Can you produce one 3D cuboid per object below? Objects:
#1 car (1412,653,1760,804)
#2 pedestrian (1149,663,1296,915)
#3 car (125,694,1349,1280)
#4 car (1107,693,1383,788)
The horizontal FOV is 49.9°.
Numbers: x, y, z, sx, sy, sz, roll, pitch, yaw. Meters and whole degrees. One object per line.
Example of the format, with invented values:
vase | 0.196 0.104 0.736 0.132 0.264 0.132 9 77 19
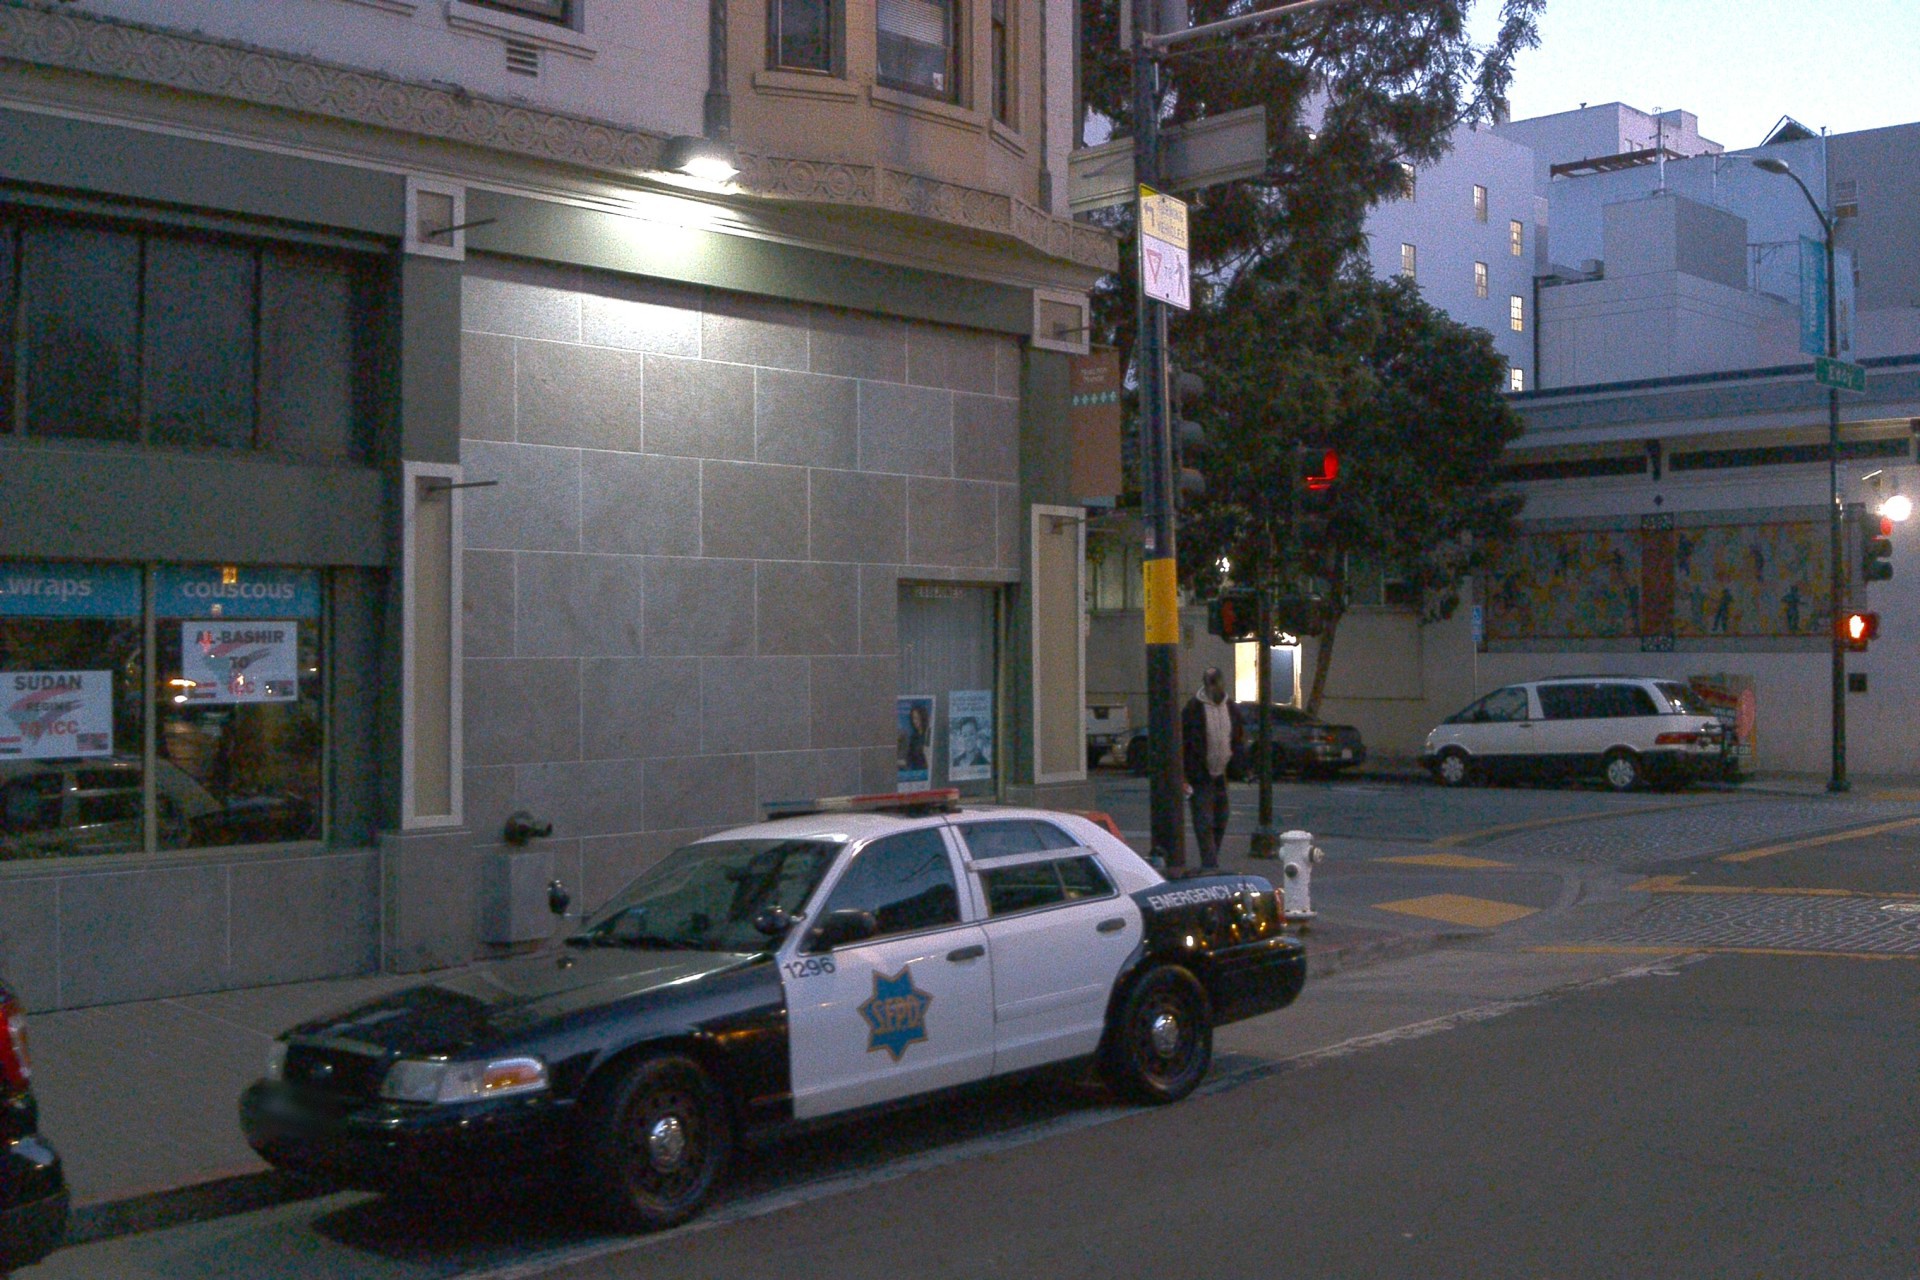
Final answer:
car | 9.721 1.296 32.316 4.809 2.080 2.006 1 1 44
pedestrian | 2.159 1.197 17.064 0.981 1.990 0.867 0 1 -12
car | -0.715 1.348 9.591 5.427 1.960 2.197 -1 1 -44
car | 5.055 1.758 37.097 1.916 1.390 4.727 -1 1 -45
